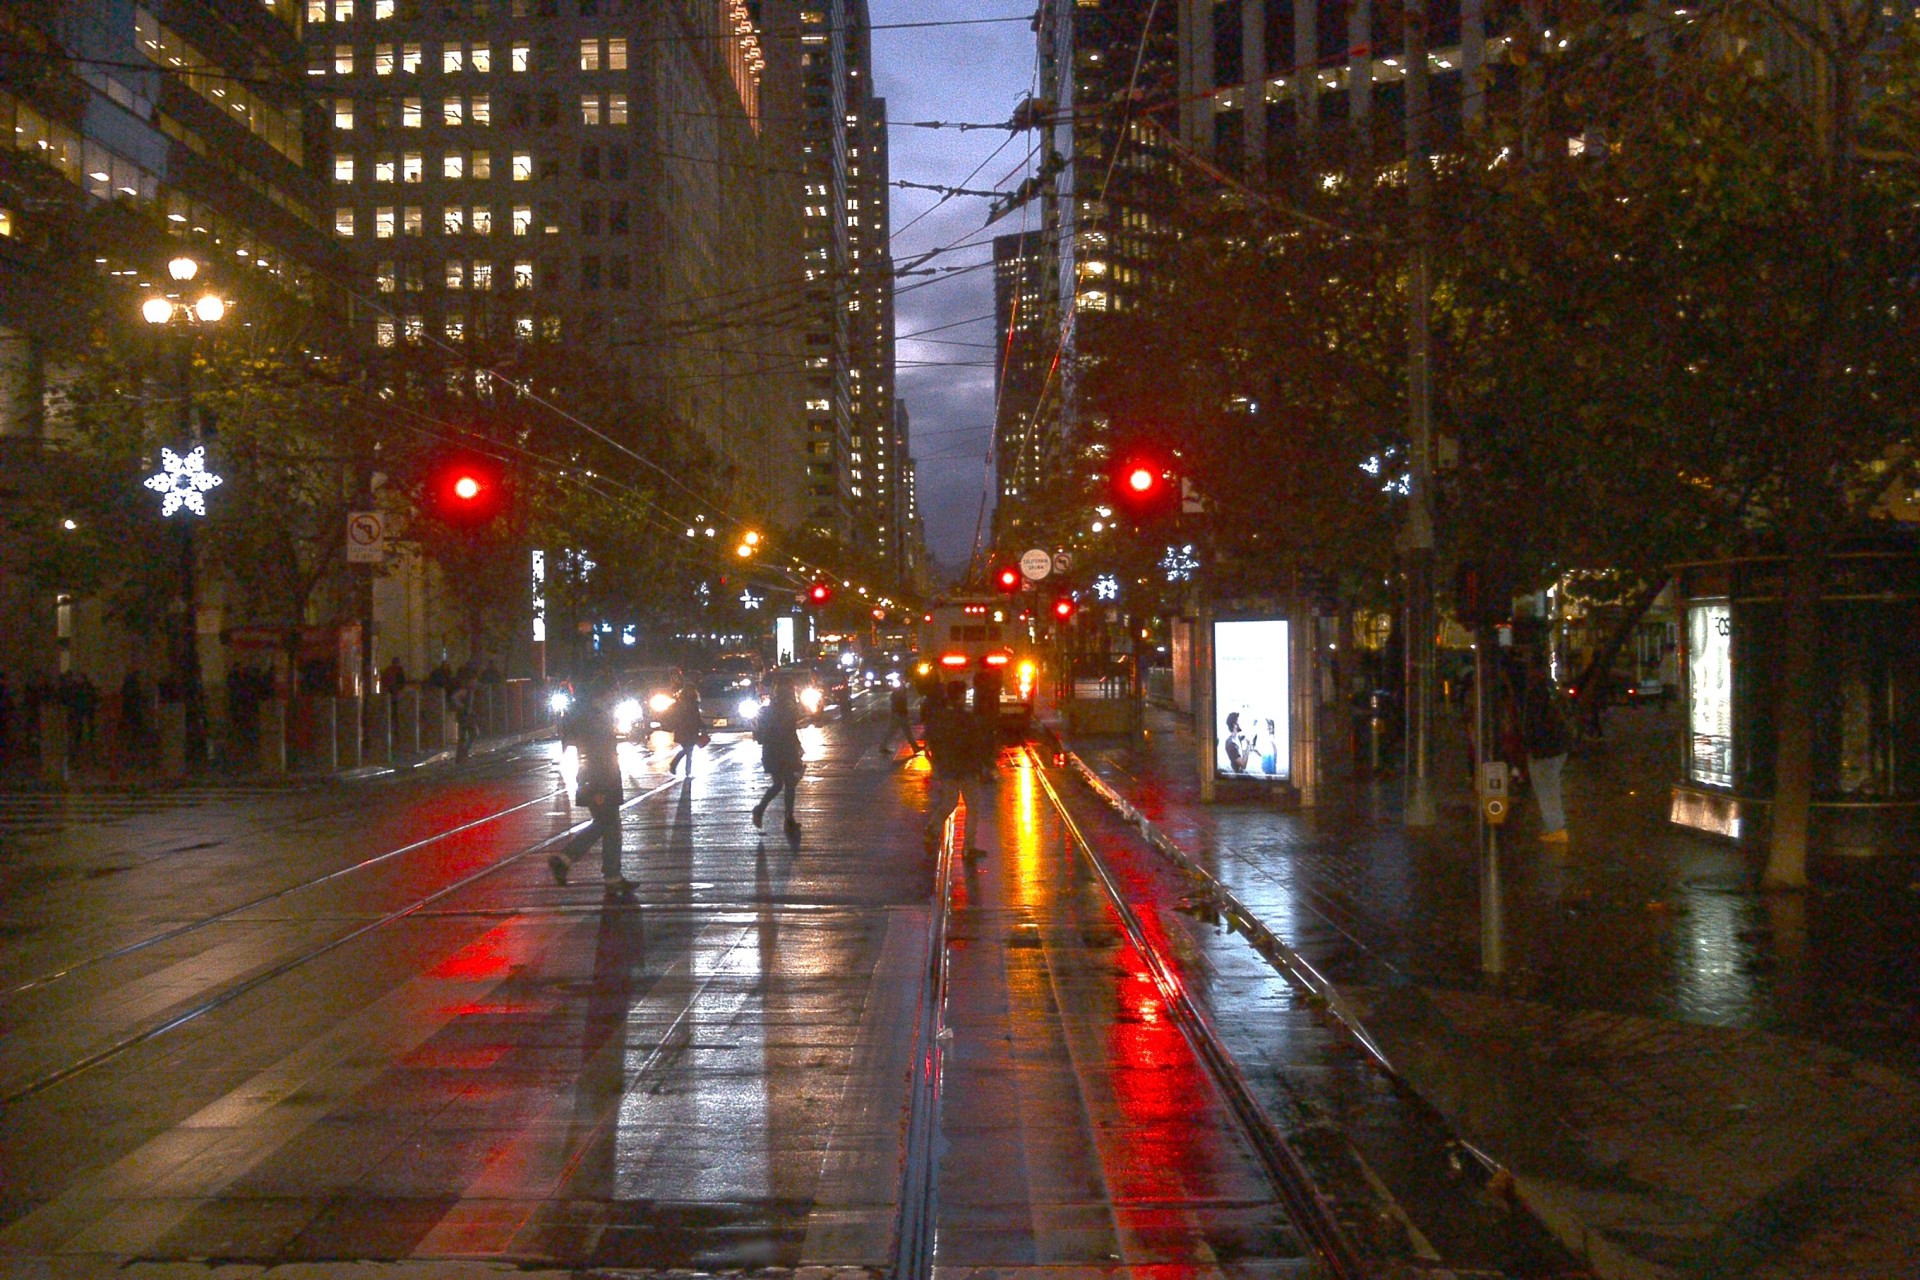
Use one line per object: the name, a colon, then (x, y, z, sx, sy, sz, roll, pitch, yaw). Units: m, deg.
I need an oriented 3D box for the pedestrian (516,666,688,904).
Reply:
pedestrian: (-3.057, 1.194, 17.457, 1.203, 1.940, 0.925, 0, 0, -29)

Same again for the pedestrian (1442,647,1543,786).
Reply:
pedestrian: (7.236, 1.026, 27.856, 0.971, 1.850, 0.908, 0, 0, -20)

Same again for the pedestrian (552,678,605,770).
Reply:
pedestrian: (-6.932, 1.518, 37.224, 0.878, 1.630, 0.701, 0, 0, -5)

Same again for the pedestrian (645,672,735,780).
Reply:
pedestrian: (-4.420, 1.387, 33.523, 1.062, 1.710, 1.006, 0, 0, 38)

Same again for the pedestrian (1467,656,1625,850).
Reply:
pedestrian: (5.604, 1.048, 19.601, 0.852, 1.780, 1.177, 0, 0, -42)

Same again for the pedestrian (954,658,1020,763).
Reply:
pedestrian: (0.475, 1.260, 36.817, 1.020, 1.860, 0.869, 0, 0, -11)

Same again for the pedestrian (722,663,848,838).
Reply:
pedestrian: (-1.957, 1.210, 22.997, 0.781, 1.890, 1.218, 0, 0, 38)

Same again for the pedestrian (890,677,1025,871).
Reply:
pedestrian: (-0.018, 1.286, 20.182, 0.810, 1.830, 1.105, 0, 0, 39)

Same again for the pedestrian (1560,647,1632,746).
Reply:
pedestrian: (11.310, 0.990, 36.430, 0.858, 1.720, 1.183, 0, 0, -3)
